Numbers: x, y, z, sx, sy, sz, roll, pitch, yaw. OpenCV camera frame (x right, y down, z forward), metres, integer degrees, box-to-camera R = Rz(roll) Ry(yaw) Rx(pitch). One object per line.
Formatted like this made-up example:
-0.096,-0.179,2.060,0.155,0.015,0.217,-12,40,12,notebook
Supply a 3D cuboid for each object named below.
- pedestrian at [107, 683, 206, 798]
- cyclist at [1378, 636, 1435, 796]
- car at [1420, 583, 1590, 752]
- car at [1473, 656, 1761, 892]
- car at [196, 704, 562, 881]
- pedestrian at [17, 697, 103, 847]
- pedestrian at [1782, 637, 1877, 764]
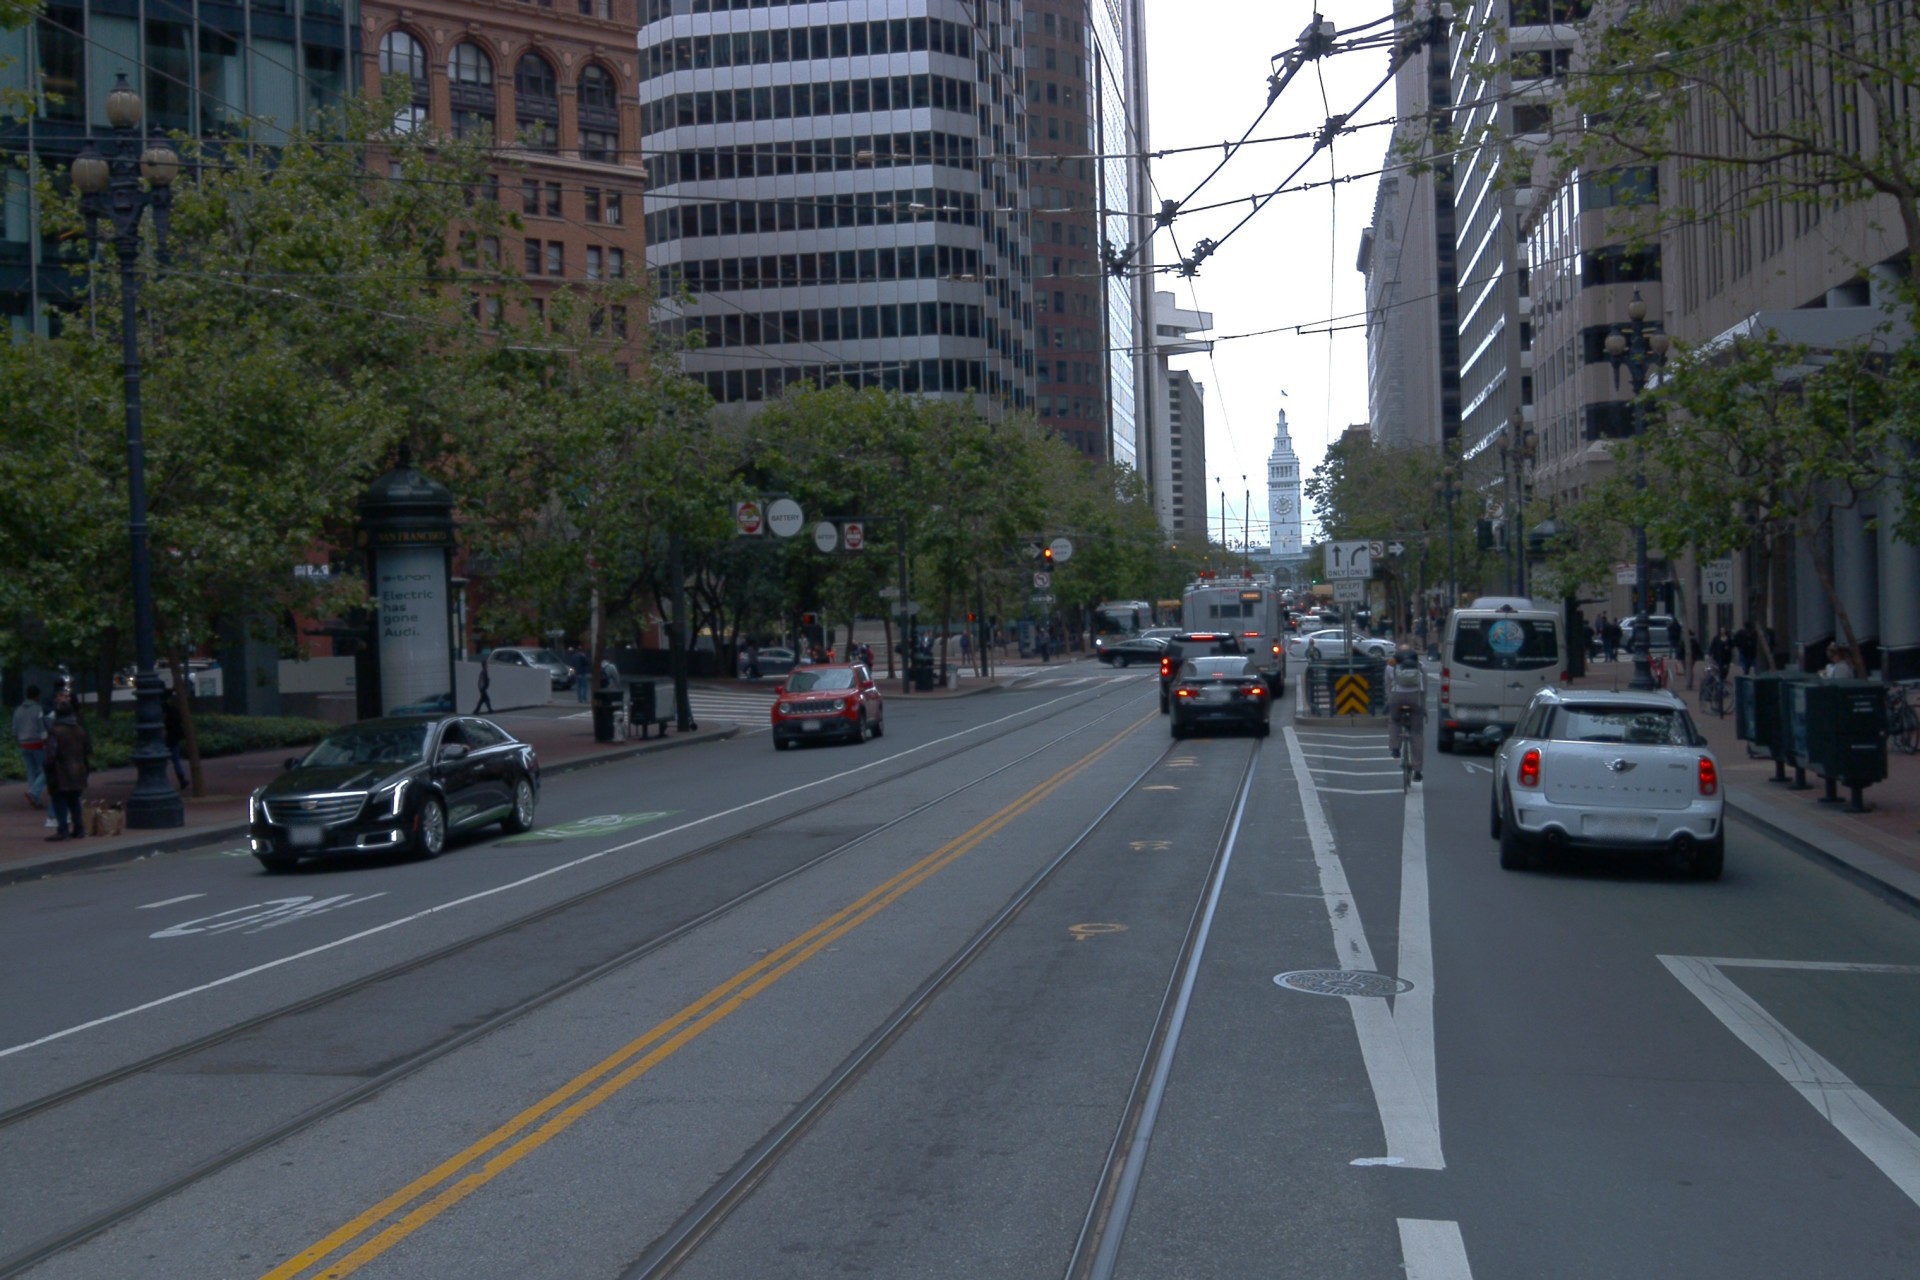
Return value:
-12.807,1.590,32.944,1.056,1.770,1.056,0,1,10,pedestrian
5.492,0.906,25.387,0.638,1.900,1.438,0,1,14,cyclist
9.028,0.393,34.621,2.537,2.590,5.346,0,1,13,car
5.717,1.080,18.432,2.076,1.784,3.875,0,1,12,car
-6.134,1.556,22.565,2.065,1.500,4.974,0,1,7,car
-10.912,1.592,25.079,0.641,1.760,0.791,0,1,4,pedestrian
11.883,0.811,28.270,0.915,1.700,0.906,0,1,0,pedestrian
